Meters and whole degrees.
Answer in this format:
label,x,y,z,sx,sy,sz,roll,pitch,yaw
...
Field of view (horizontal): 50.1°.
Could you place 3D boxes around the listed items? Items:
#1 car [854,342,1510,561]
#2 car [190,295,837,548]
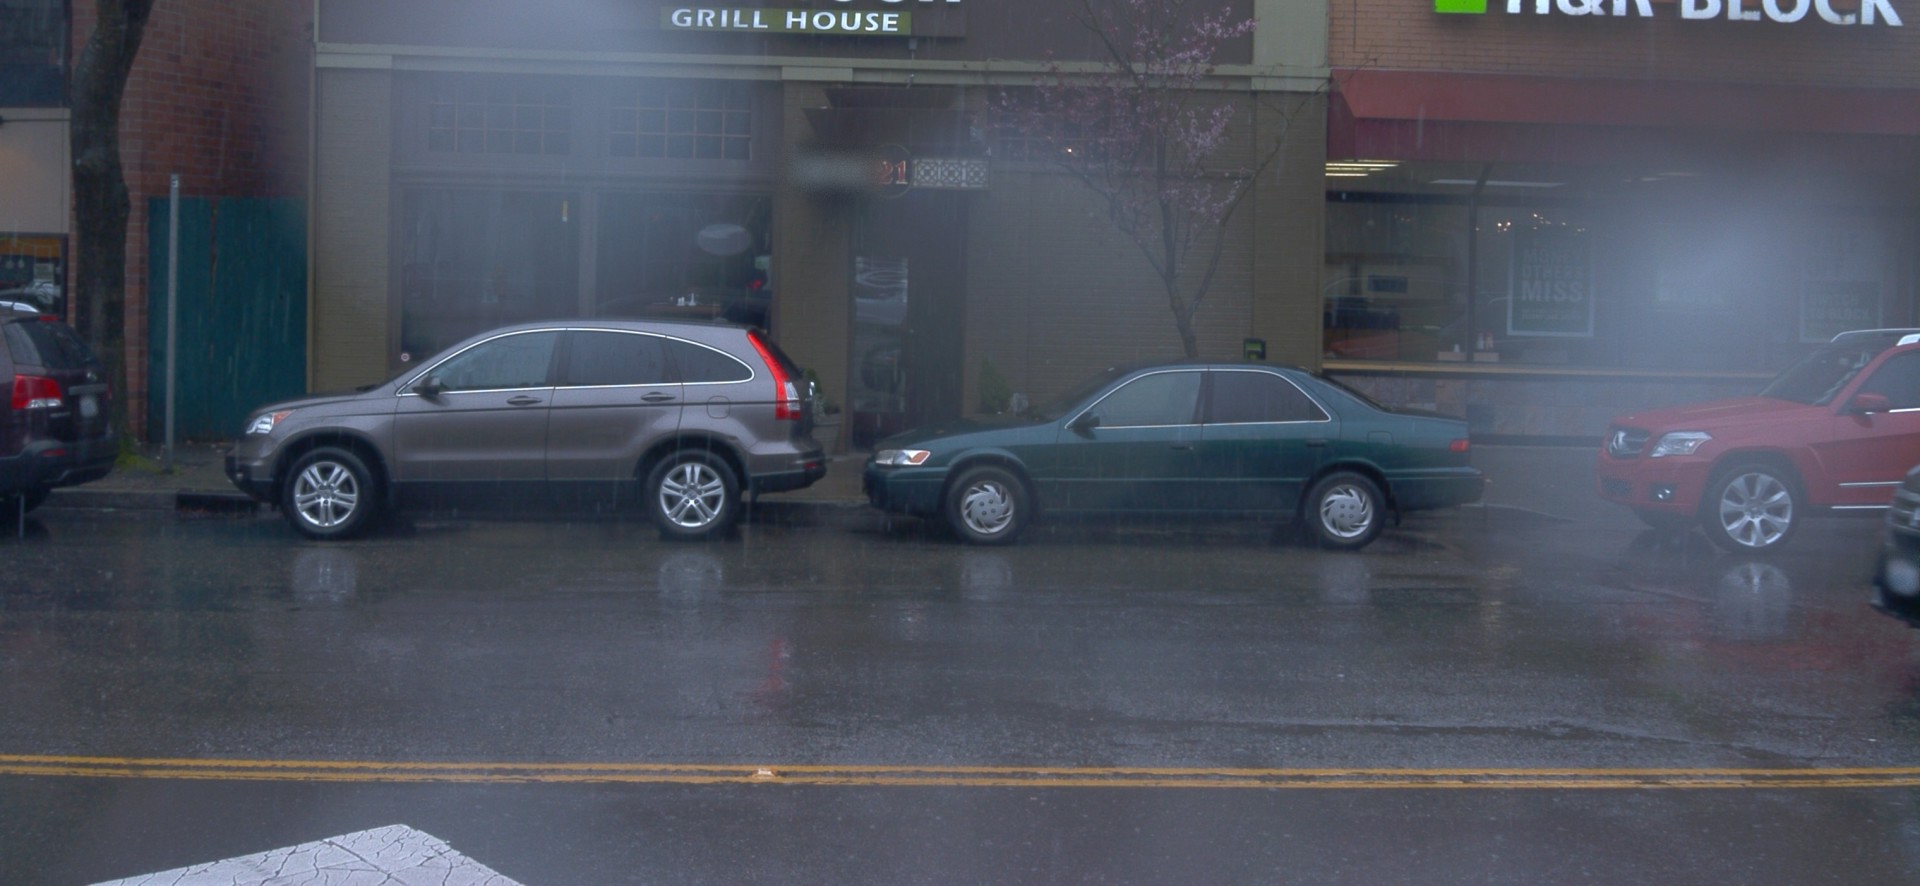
label,x,y,z,sx,sy,sz,roll,pitch,yaw
car,1.595,0.020,15.964,4.796,1.414,1.988,1,5,-2
car,-3.279,-0.213,15.797,4.605,1.724,1.918,0,4,-5
